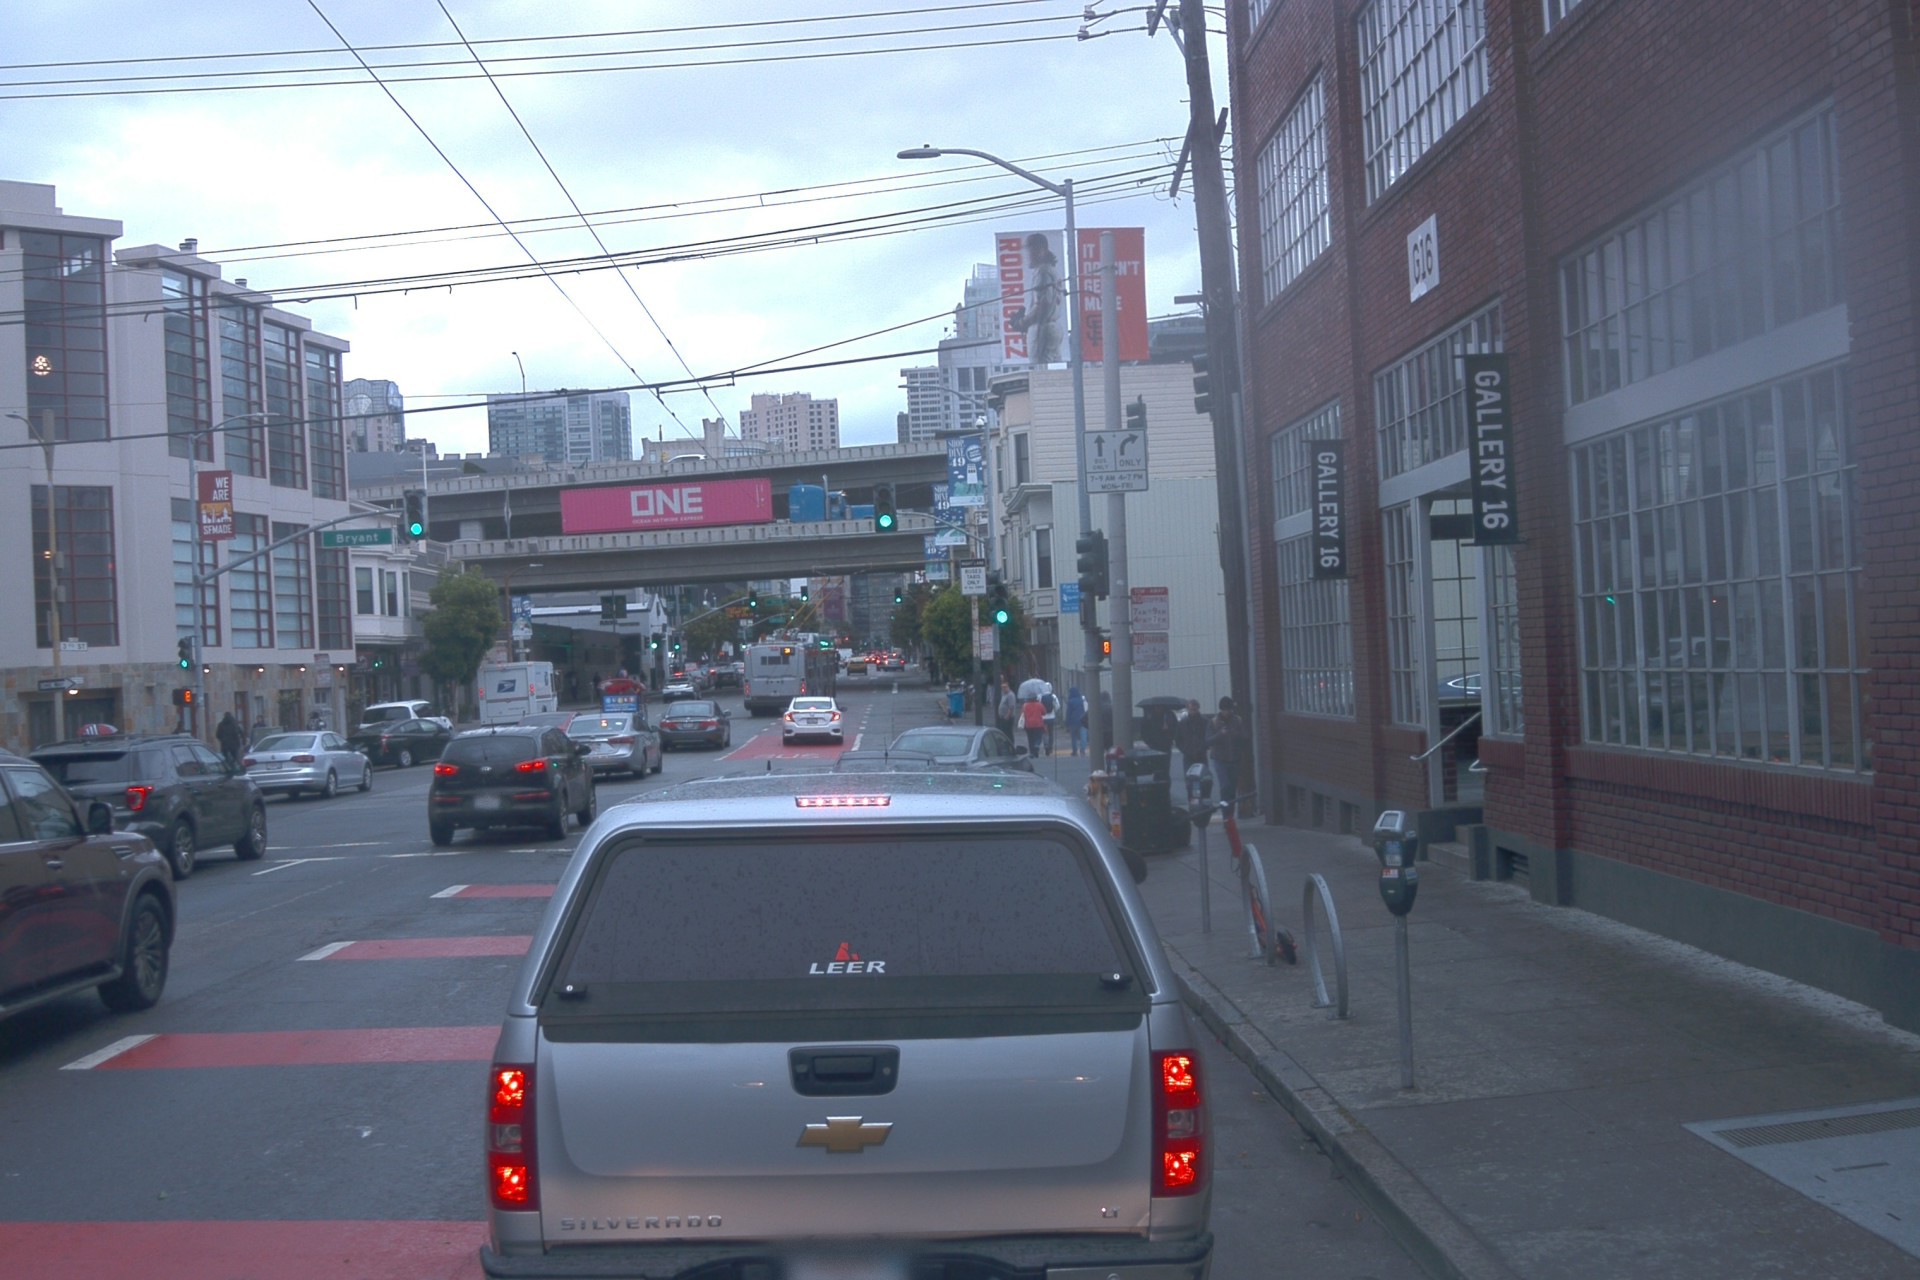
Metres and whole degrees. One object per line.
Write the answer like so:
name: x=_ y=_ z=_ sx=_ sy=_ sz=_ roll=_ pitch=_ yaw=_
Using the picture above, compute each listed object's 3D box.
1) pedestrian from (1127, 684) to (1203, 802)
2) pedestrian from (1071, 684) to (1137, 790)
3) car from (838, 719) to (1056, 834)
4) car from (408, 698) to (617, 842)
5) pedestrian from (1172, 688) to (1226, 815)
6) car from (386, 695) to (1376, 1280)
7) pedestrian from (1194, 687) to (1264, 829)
pedestrian: x=3.308 y=1.648 z=33.544 sx=1.016 sy=1.870 sz=1.039 roll=0 pitch=-1 yaw=-6
pedestrian: x=2.452 y=1.652 z=35.506 sx=1.053 sy=1.770 sz=1.060 roll=0 pitch=-1 yaw=0
car: x=-0.102 y=2.012 z=31.609 sx=2.071 sy=1.500 sz=4.413 roll=0 pitch=-1 yaw=17
car: x=-6.503 y=1.845 z=30.658 sx=2.197 sy=1.900 sz=4.423 roll=0 pitch=-1 yaw=-1
pedestrian: x=3.586 y=1.657 z=31.082 sx=0.749 sy=1.870 sz=0.954 roll=0 pitch=-1 yaw=10
car: x=-0.311 y=1.282 z=7.838 sx=2.411 sy=2.070 sz=5.546 roll=0 pitch=-1 yaw=-3
pedestrian: x=3.532 y=1.533 z=27.286 sx=0.763 sy=1.820 sz=0.914 roll=0 pitch=-1 yaw=-2
